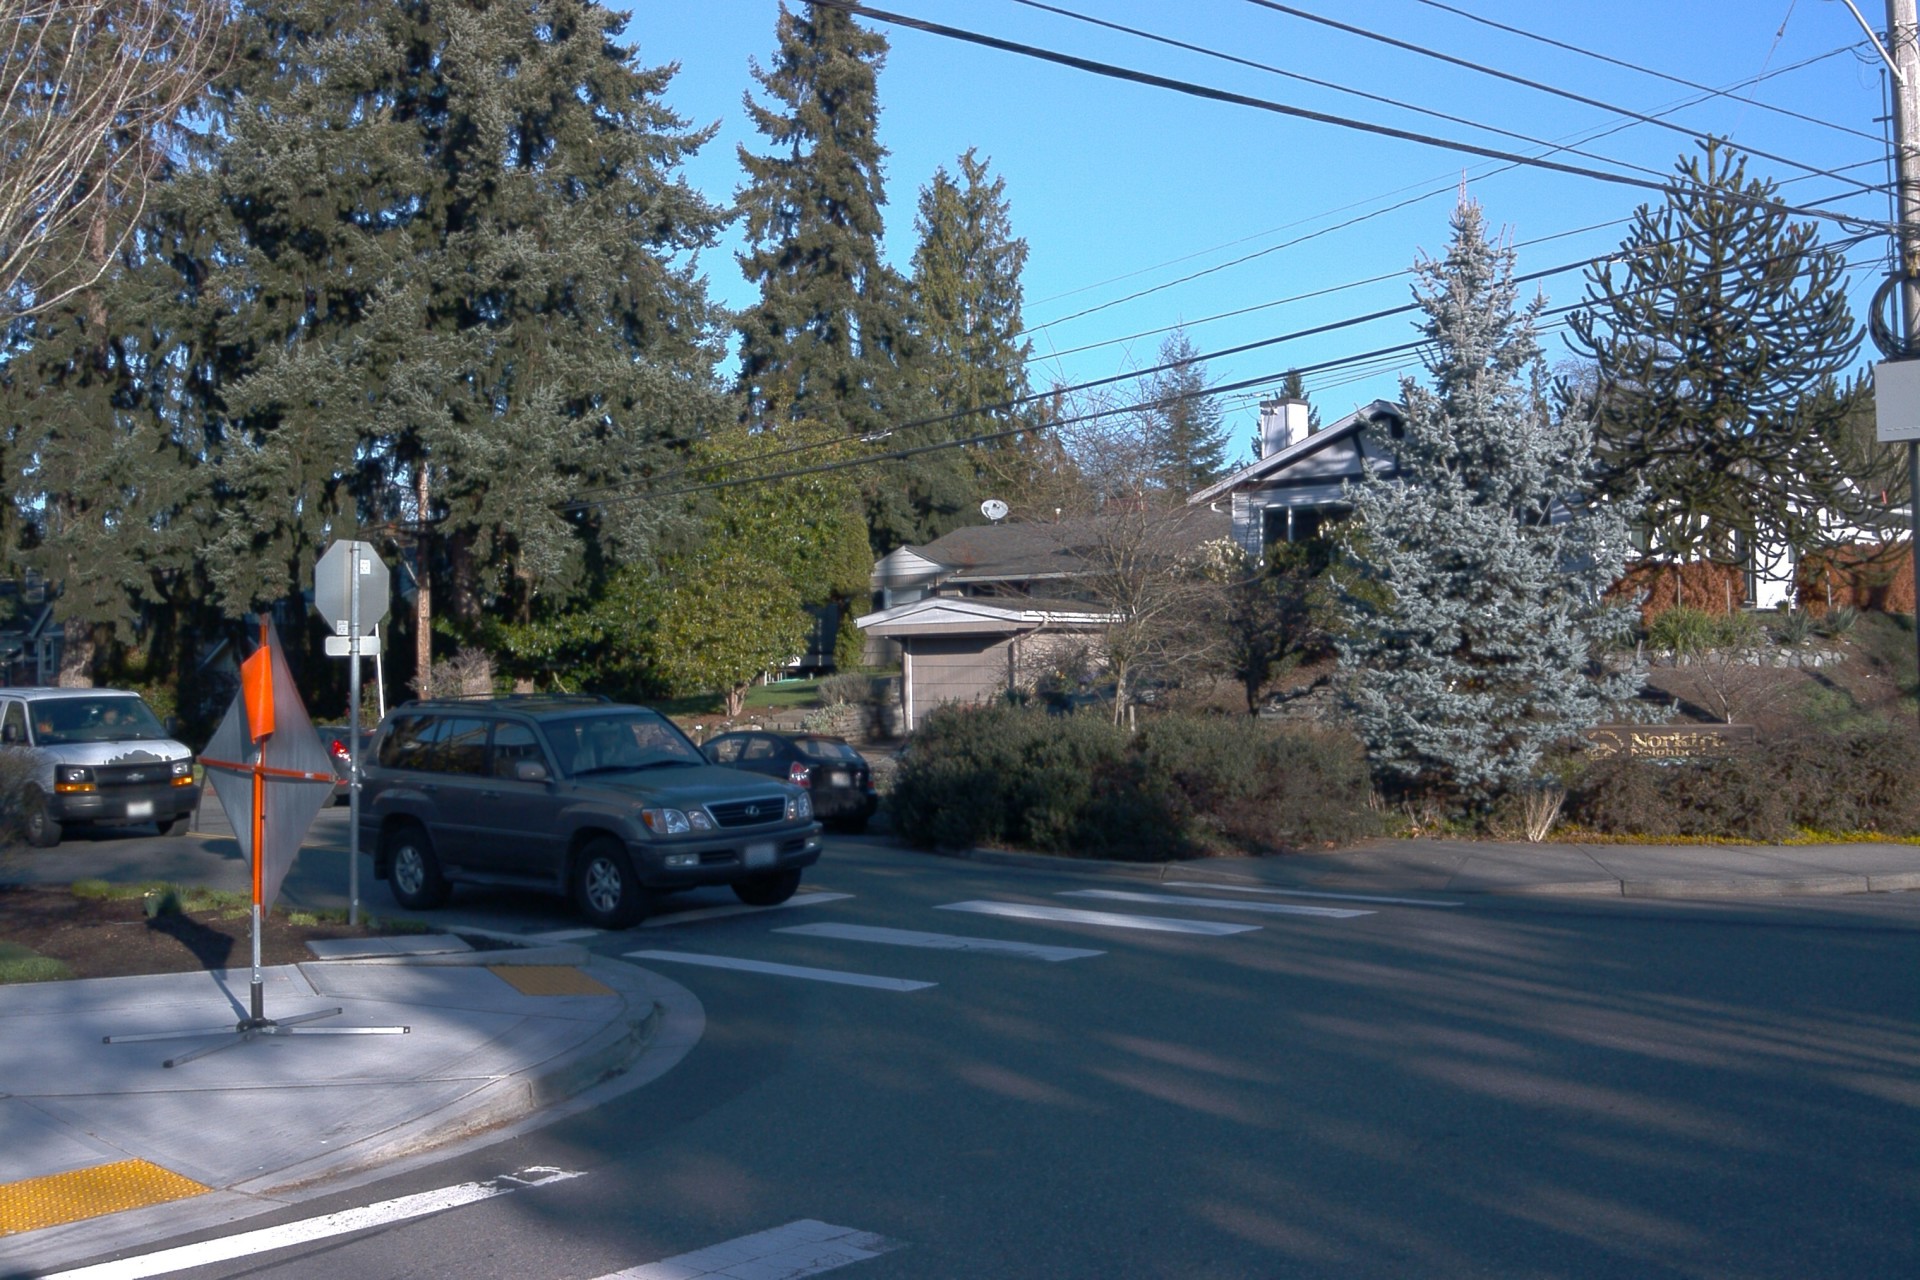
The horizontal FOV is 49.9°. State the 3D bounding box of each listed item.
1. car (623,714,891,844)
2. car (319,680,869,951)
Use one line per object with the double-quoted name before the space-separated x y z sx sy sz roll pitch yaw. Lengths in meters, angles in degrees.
"car" -2.958 1.935 29.599 3.864 1.540 1.773 1 1 45
"car" -3.397 1.406 18.509 5.007 1.930 2.286 1 1 43
